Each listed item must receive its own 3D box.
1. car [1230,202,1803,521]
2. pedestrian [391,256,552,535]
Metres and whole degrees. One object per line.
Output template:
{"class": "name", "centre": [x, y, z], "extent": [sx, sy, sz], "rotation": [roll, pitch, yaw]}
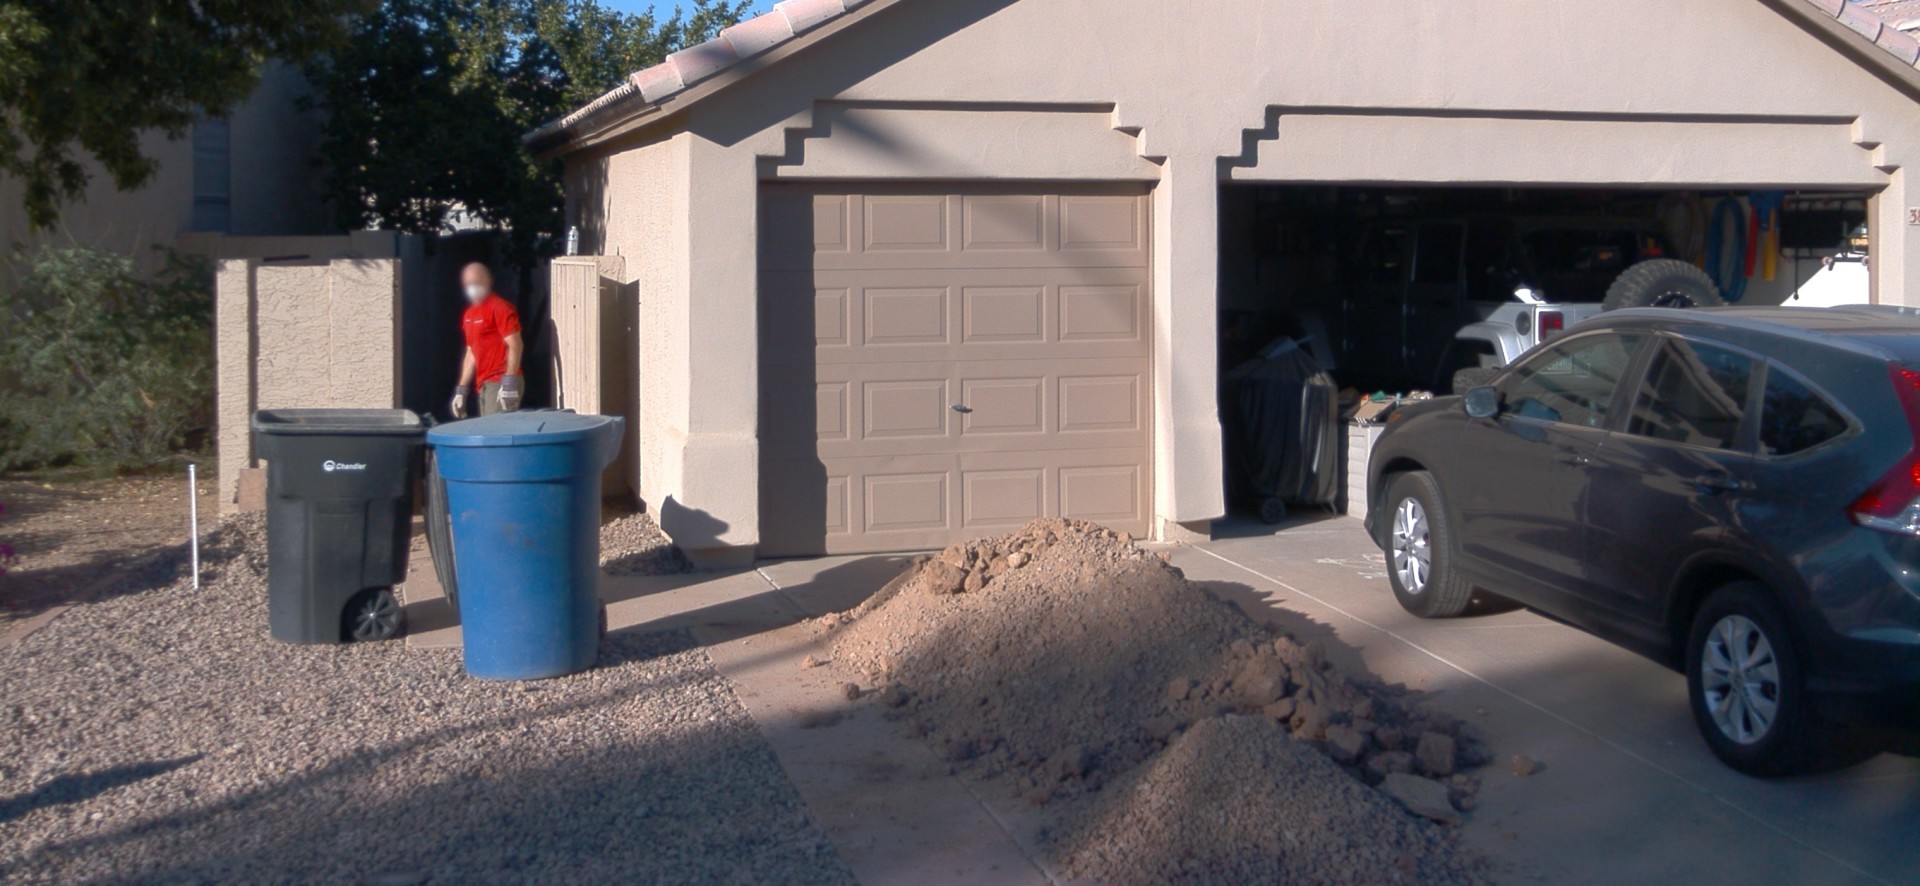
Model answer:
{"class": "car", "centre": [3.992, -0.764, 15.959], "extent": [2.118, 2.034, 4.660], "rotation": [-1, 5, -16]}
{"class": "pedestrian", "centre": [-3.198, -0.345, 13.662], "extent": [0.783, 1.751, 0.679], "rotation": [0, 1, 41]}
